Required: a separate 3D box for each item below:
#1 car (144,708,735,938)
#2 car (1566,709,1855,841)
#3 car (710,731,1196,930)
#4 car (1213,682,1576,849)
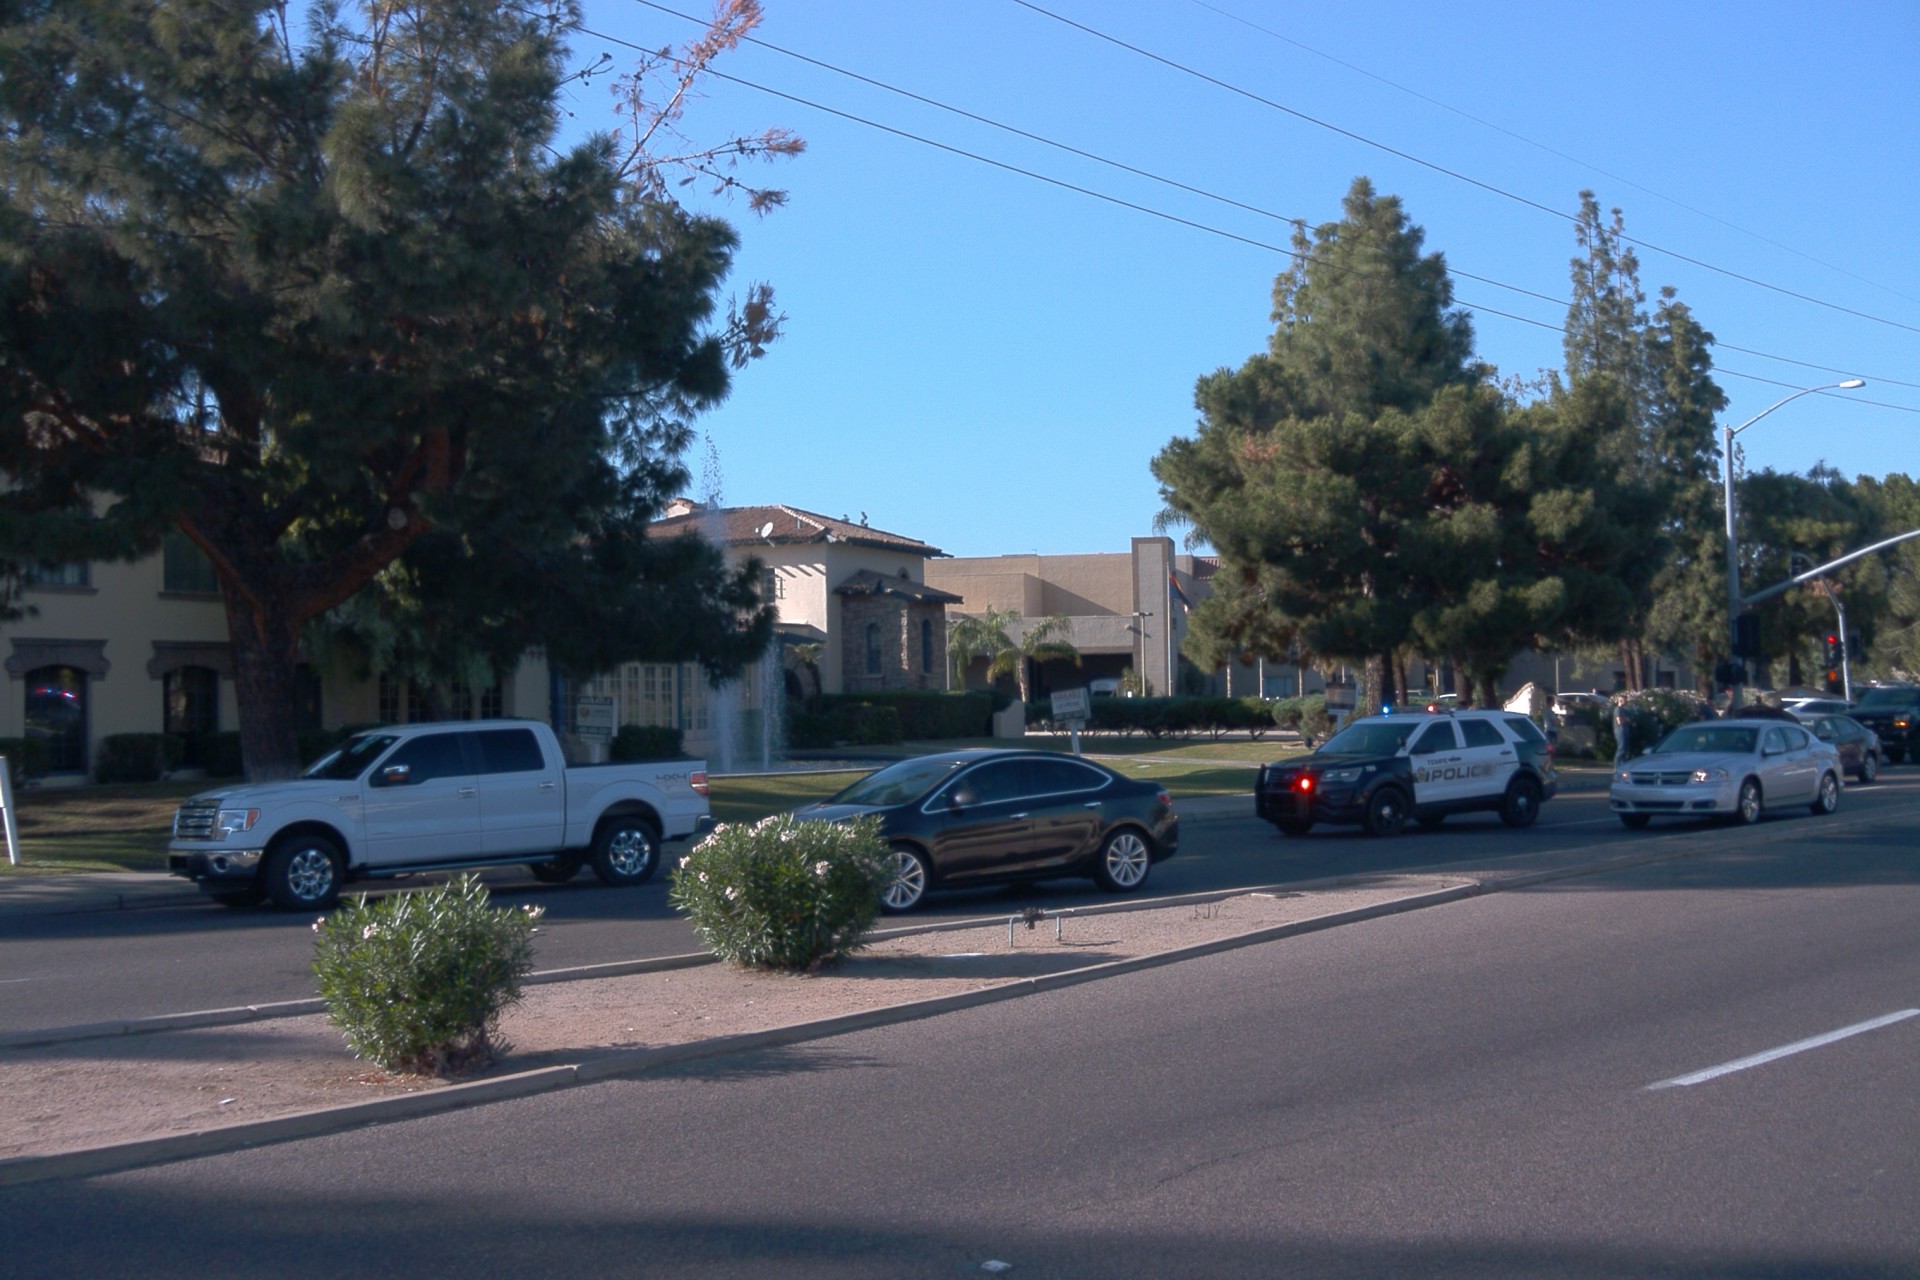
[{"bbox_3d":[-5.665,1.887,23.293,5.958,2.110,2.306,1,0,-39],"label":"car"},{"bbox_3d":[10.820,1.852,29.923,2.065,1.600,4.831,0,0,44],"label":"car"},{"bbox_3d":[0.015,1.764,20.456,4.586,1.580,1.827,1,0,-38],"label":"car"},{"bbox_3d":[6.400,1.735,30.477,5.294,2.180,2.186,1,0,-36],"label":"car"}]
